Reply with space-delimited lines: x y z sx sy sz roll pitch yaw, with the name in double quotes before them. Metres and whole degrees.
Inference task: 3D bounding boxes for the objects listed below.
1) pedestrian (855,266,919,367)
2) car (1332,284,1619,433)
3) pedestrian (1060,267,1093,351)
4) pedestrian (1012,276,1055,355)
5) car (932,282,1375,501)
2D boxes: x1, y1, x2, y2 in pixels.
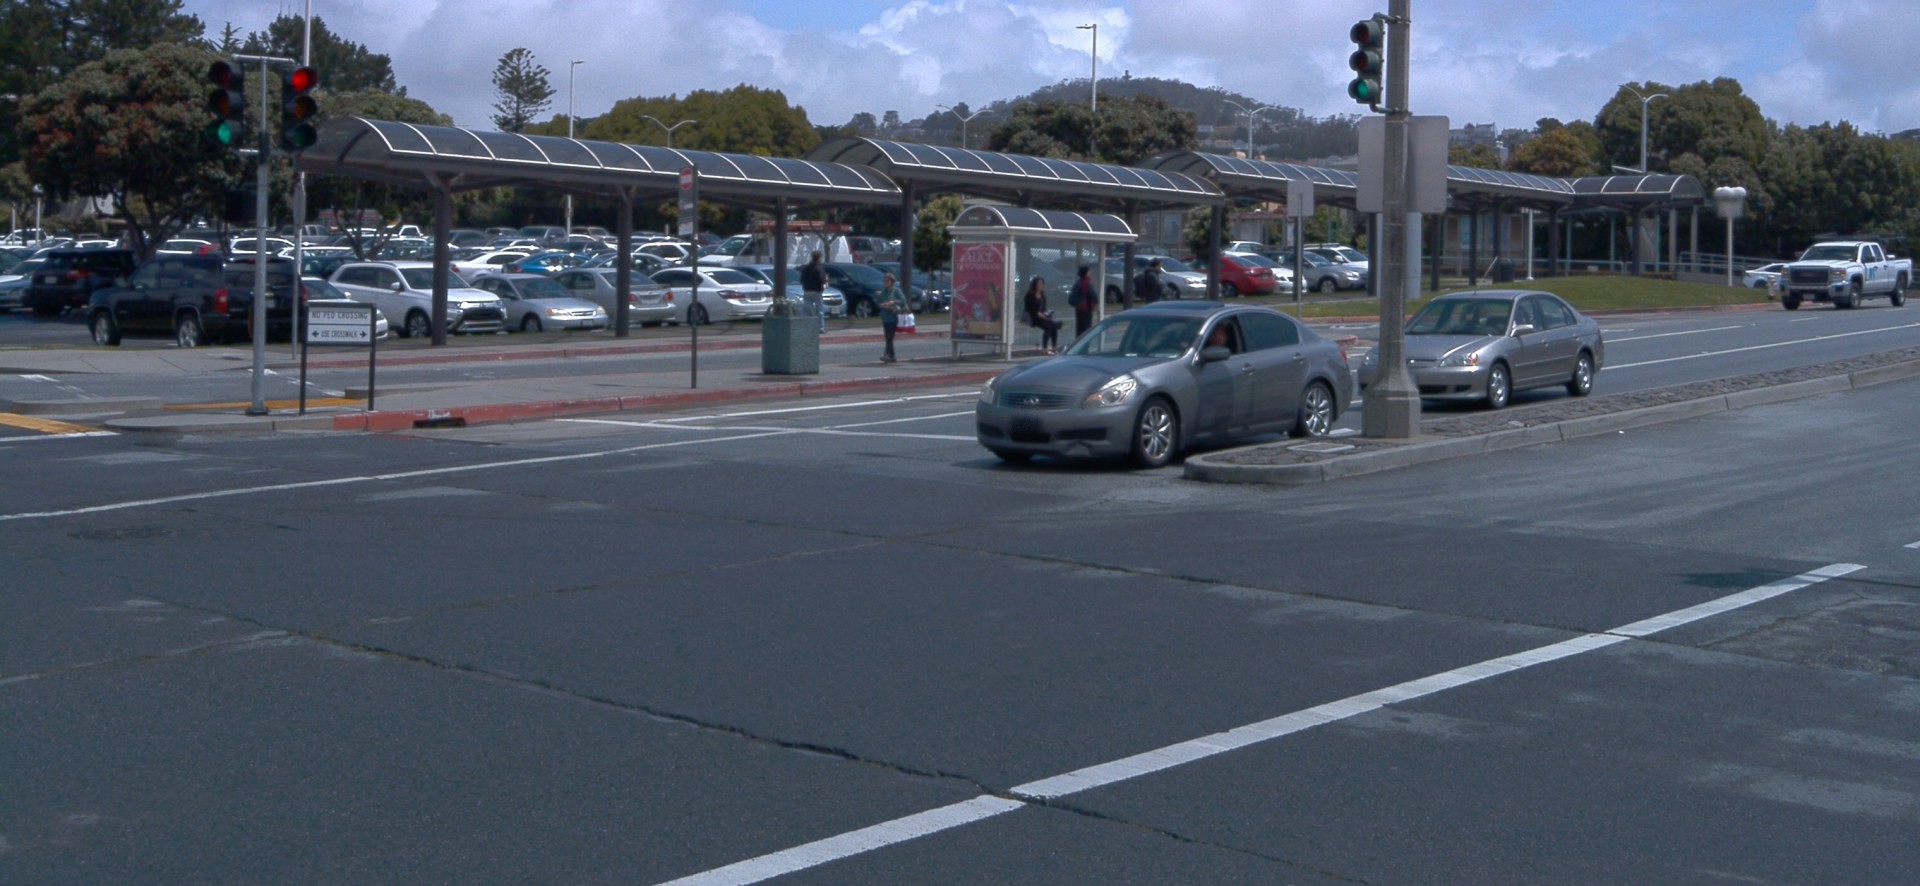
"pedestrian" -1.266 -2.218 35.972 0.830 1.696 0.781 0 2 24
"car" 6.616 -1.152 26.212 1.860 1.523 4.465 3 7 38
"pedestrian" 2.175 -2.504 38.552 0.466 1.527 0.459 0 2 26
"pedestrian" 1.347 -2.354 38.021 0.590 1.397 0.527 1 2 38
"car" 2.014 -0.625 20.094 1.957 1.672 4.724 3 7 40
